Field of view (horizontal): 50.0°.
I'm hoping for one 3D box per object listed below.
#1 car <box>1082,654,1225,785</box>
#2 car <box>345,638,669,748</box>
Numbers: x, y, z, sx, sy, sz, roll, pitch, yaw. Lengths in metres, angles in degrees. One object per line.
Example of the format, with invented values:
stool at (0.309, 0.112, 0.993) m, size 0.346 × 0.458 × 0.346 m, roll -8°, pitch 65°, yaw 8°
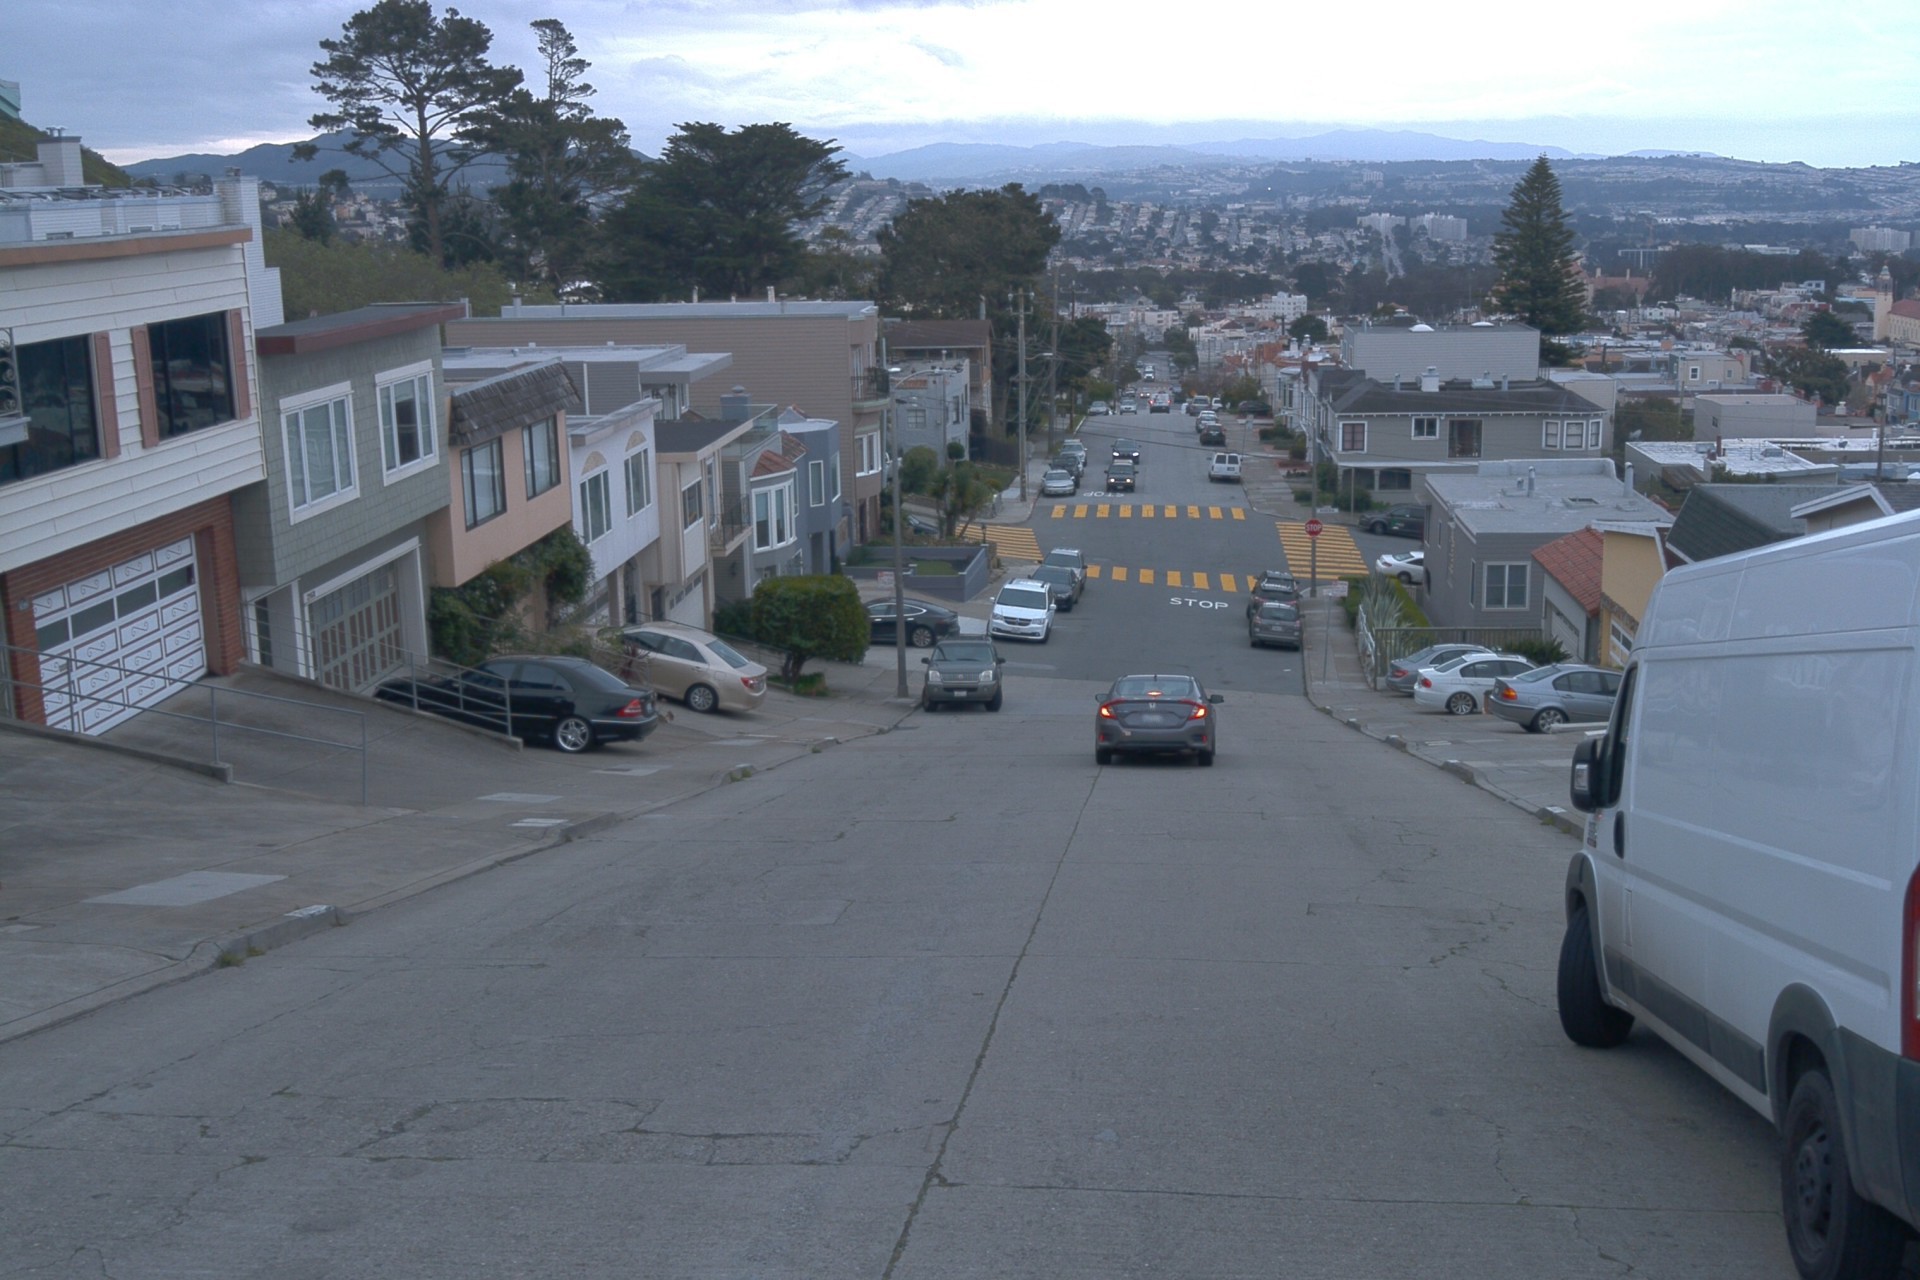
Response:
car at (3.108, 1.174, 32.358) m, size 2.098 × 1.880 × 4.244 m, roll 0°, pitch 0°, yaw 7°
car at (-6.998, 0.794, 32.133) m, size 4.520 × 1.660 × 2.025 m, roll 0°, pitch 0°, yaw 5°
